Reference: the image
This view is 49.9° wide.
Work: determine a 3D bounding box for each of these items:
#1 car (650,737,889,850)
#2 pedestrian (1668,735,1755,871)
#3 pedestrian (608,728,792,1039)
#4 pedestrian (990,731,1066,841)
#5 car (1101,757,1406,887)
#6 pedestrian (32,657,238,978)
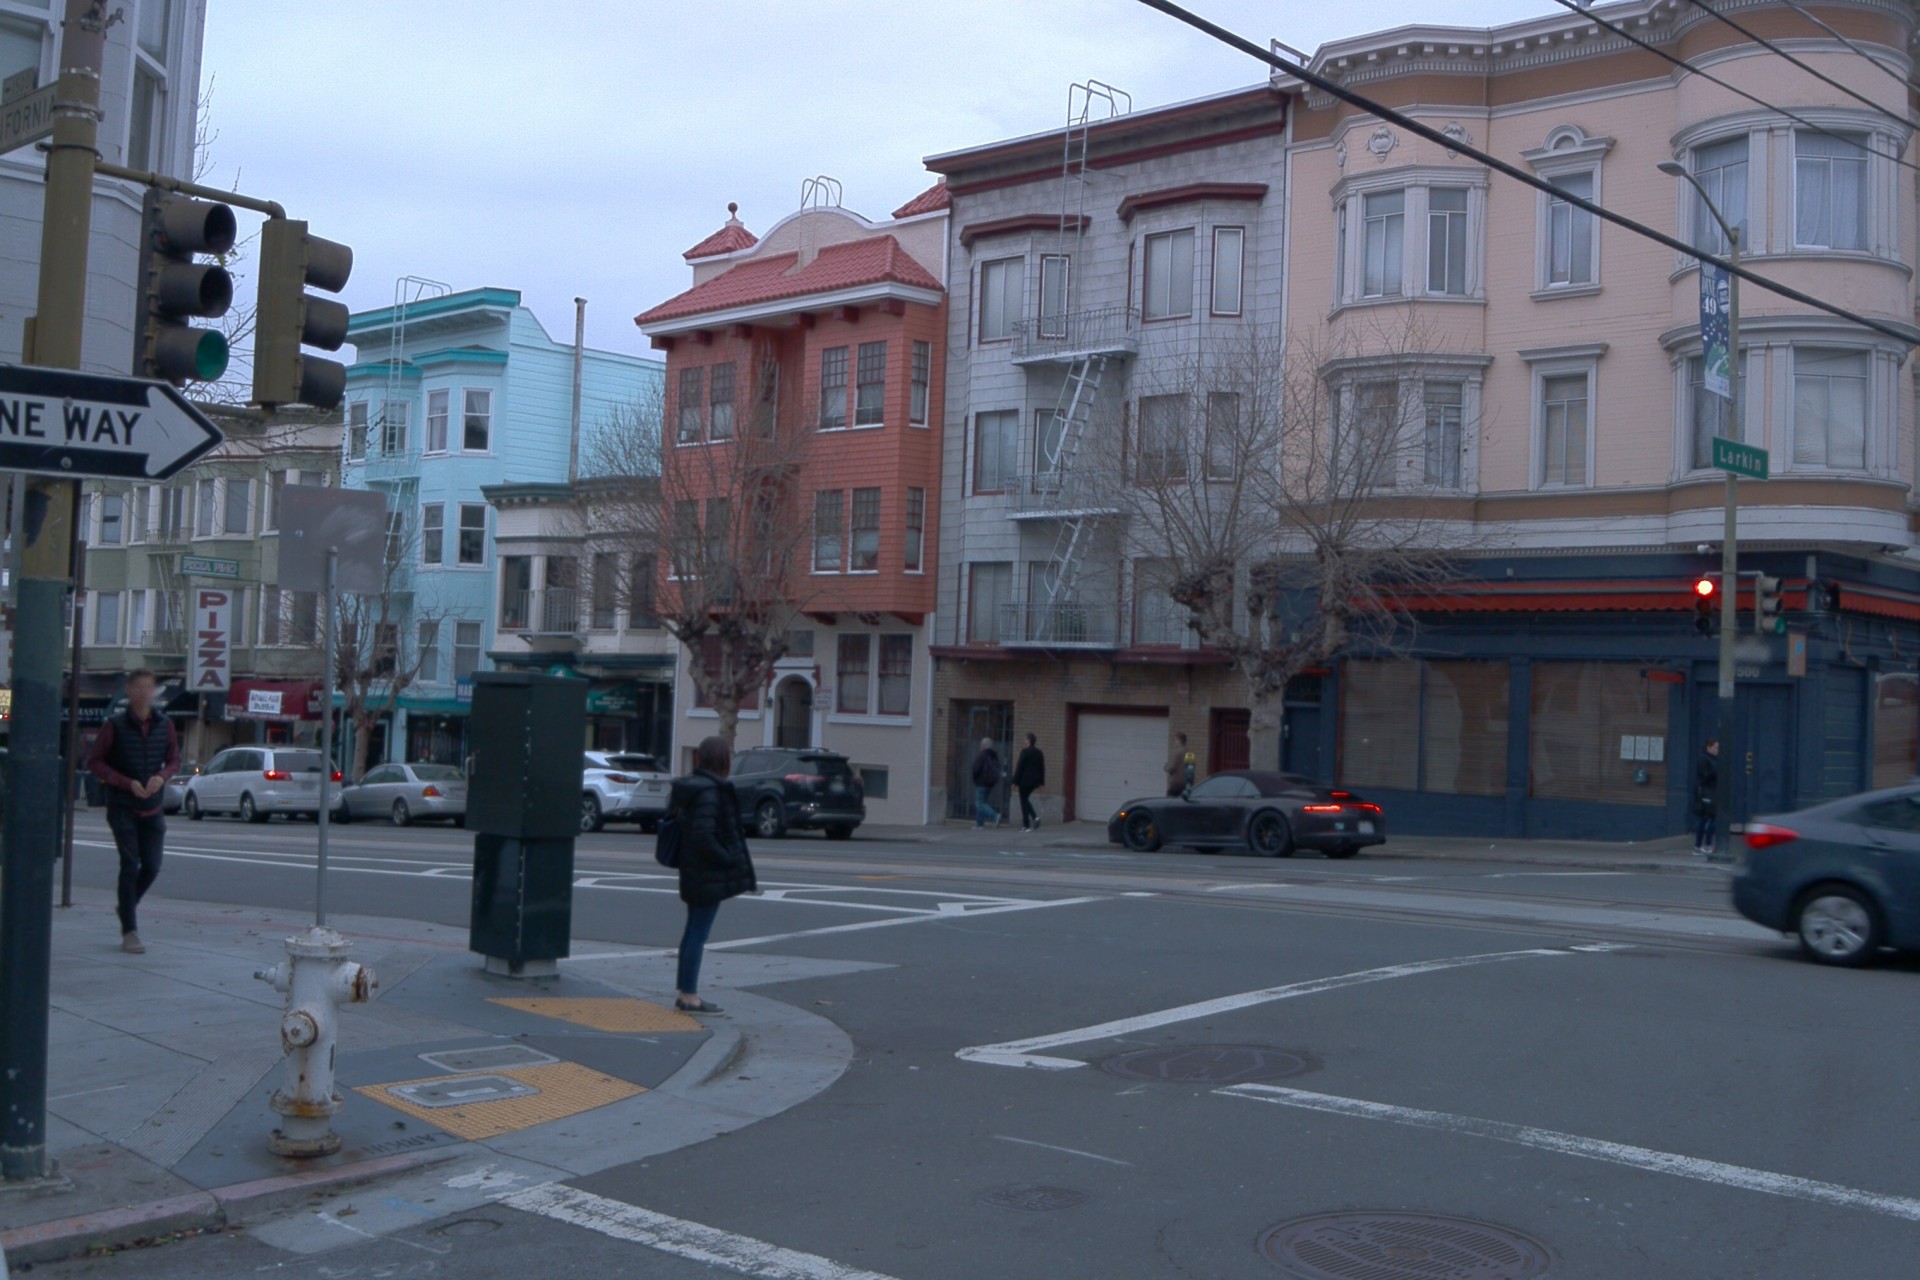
[{"bbox_3d":[-3.623,2.831,38.769,4.423,1.700,2.100,1,1,44],"label":"car"},{"bbox_3d":[10.624,2.286,29.171,0.938,1.800,0.779,1,1,40],"label":"pedestrian"},{"bbox_3d":[-1.532,1.393,12.147,0.846,1.692,0.707,-1,1,-33],"label":"pedestrian"},{"bbox_3d":[1.250,2.683,38.123,0.903,1.913,1.080,-1,1,-43],"label":"pedestrian"},{"bbox_3d":[4.281,2.627,30.588,1.947,1.460,4.186,-1,1,-43],"label":"car"},{"bbox_3d":[-5.330,1.090,13.312,0.804,1.922,1.262,-1,1,-44],"label":"pedestrian"}]
